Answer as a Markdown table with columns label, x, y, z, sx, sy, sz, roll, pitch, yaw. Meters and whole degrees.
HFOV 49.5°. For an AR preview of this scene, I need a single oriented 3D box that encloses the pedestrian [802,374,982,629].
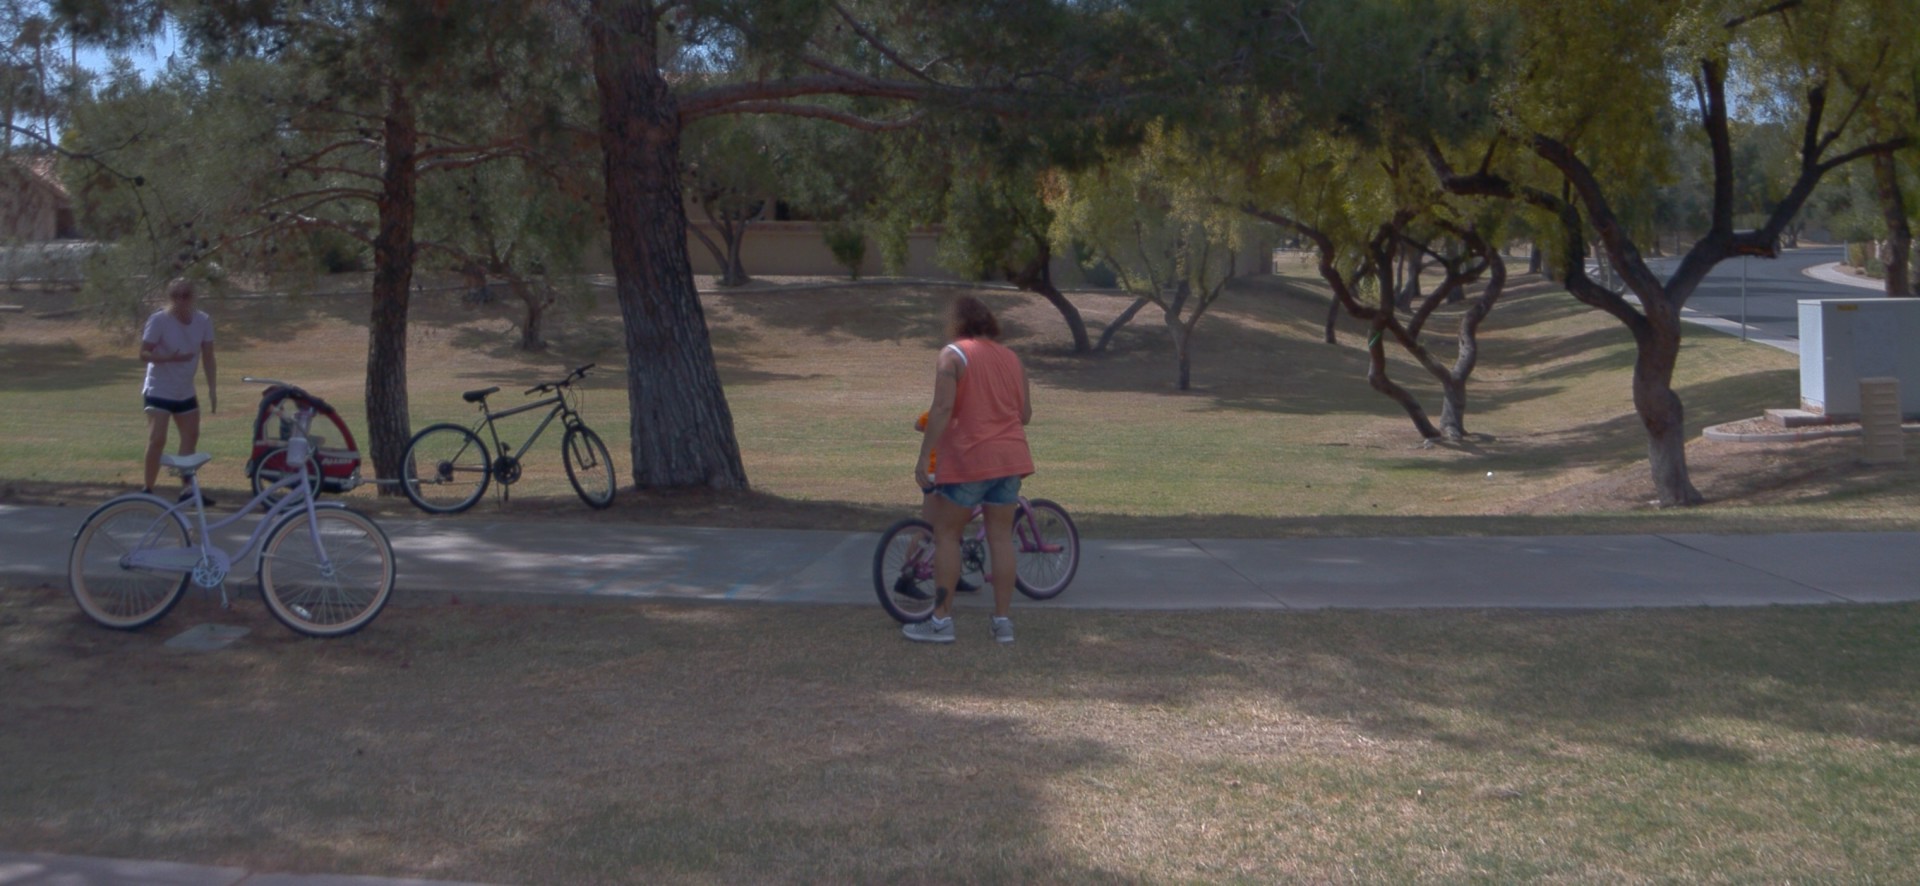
| label | x | y | z | sx | sy | sz | roll | pitch | yaw |
| --- | --- | --- | --- | --- | --- | --- | --- | --- | --- |
| pedestrian | -0.348 | 0.266 | 10.524 | 0.599 | 1.181 | 0.730 | 0 | 1 | -36 |

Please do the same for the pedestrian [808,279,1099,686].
| label | x | y | z | sx | sy | sz | roll | pitch | yaw |
| --- | --- | --- | --- | --- | --- | --- | --- | --- | --- |
| pedestrian | -0.040 | 0.115 | 9.583 | 0.896 | 1.722 | 1.036 | 0 | 1 | -36 |

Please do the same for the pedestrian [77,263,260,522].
| label | x | y | z | sx | sy | sz | roll | pitch | yaw |
| --- | --- | --- | --- | --- | --- | --- | --- | --- | --- |
| pedestrian | -5.491 | -0.390 | 14.437 | 0.898 | 1.712 | 0.834 | 1 | 1 | 39 |
